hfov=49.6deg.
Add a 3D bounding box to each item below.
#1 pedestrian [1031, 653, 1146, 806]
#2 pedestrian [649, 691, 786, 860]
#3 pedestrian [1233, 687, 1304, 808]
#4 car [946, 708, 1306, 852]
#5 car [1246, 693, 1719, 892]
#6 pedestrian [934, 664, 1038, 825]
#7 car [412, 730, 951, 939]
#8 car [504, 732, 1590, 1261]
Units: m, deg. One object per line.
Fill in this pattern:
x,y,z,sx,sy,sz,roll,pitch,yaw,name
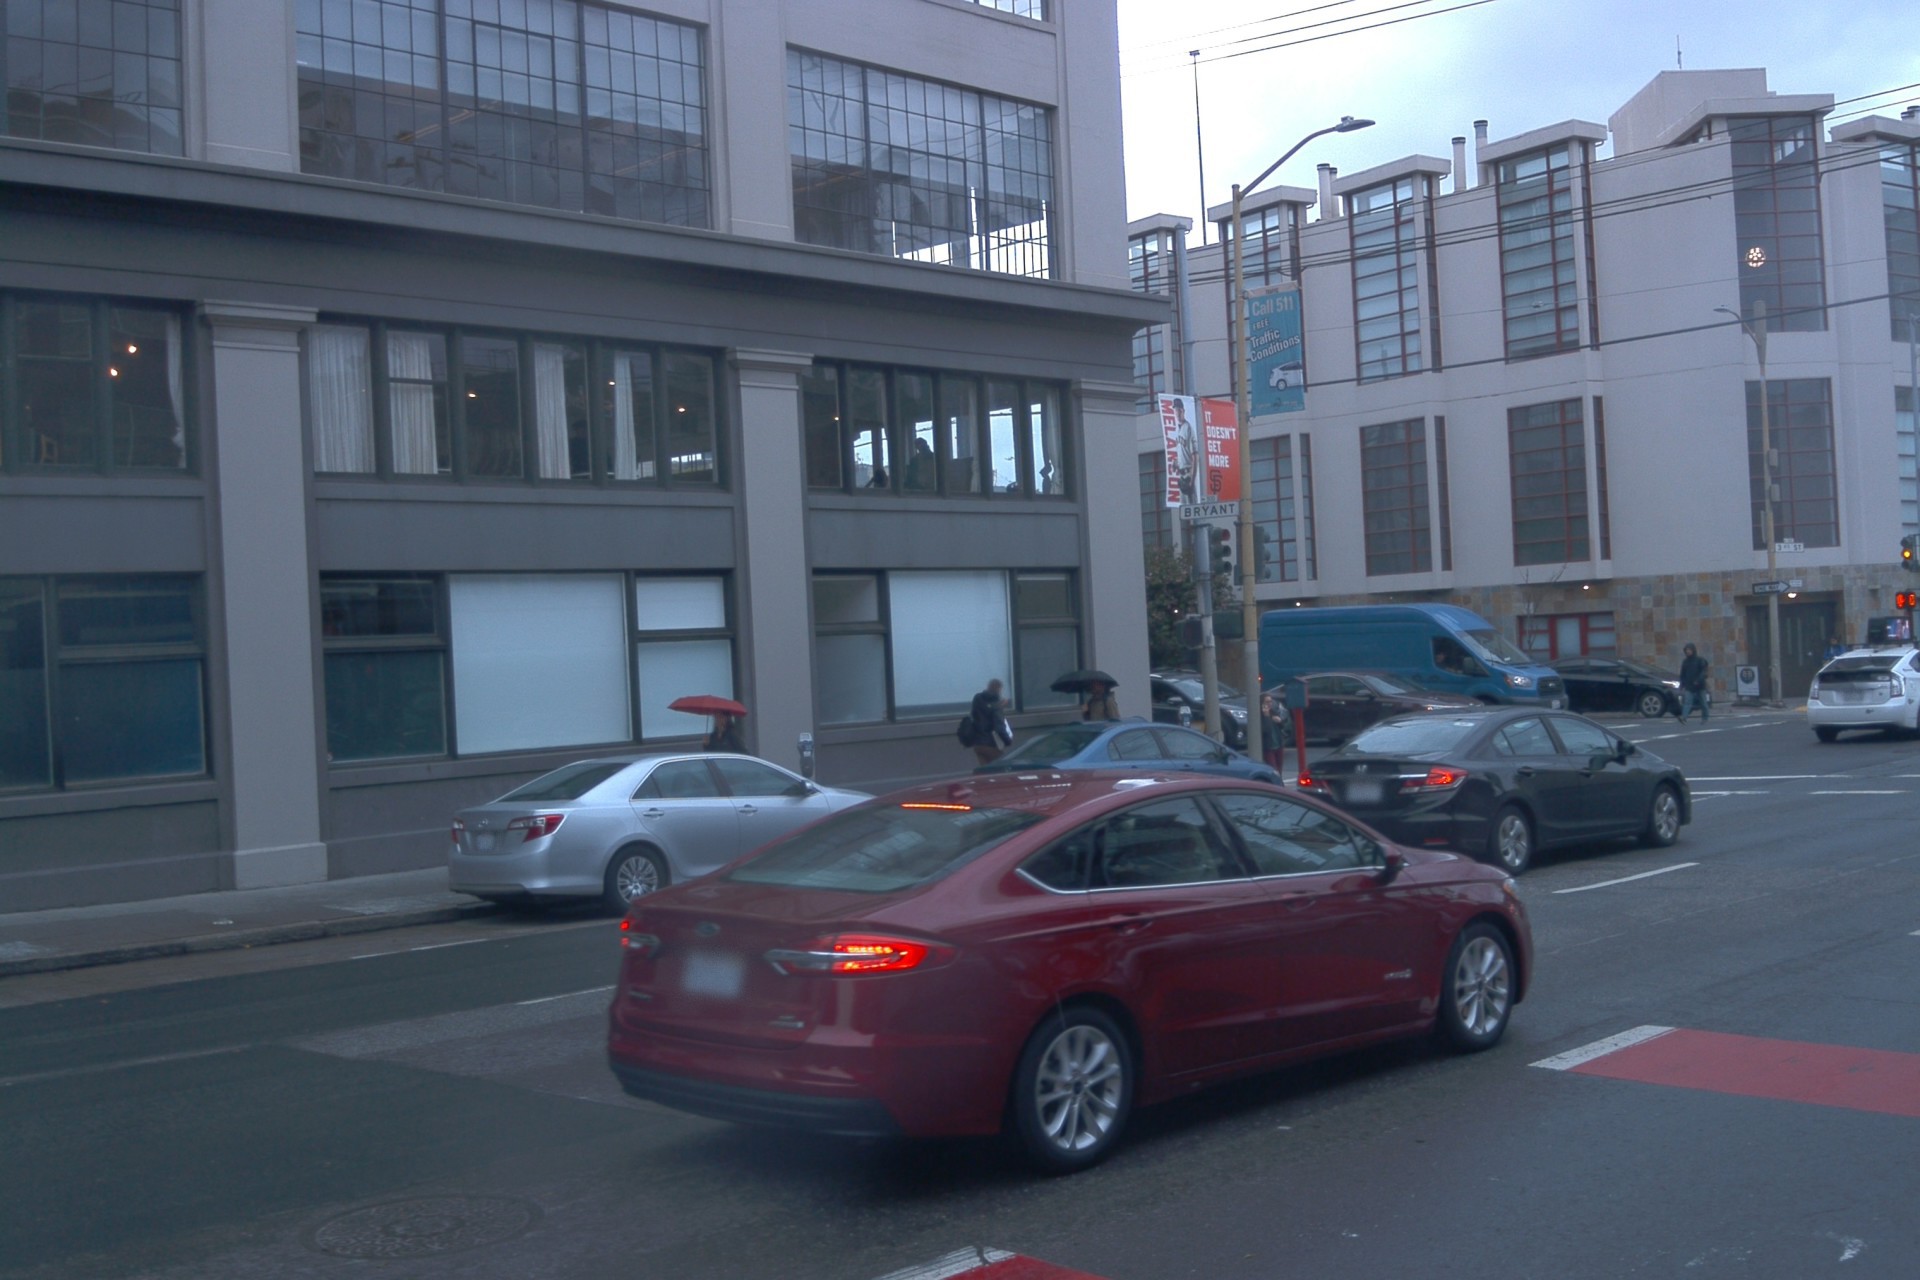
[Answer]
1.840,1.251,29.663,1.190,2.110,1.132,0,0,-45,pedestrian
-2.862,1.568,24.576,1.157,1.900,1.124,0,0,-45,pedestrian
4.387,1.515,29.569,0.825,1.670,0.591,0,0,-35,pedestrian
2.068,1.603,24.976,1.913,1.440,4.430,0,0,45,car
4.789,1.251,18.610,1.971,1.440,4.761,0,0,44,car
0.333,1.313,26.628,0.909,1.990,0.967,0,0,44,pedestrian
-2.565,1.763,20.178,2.014,1.570,4.989,0,0,45,car
0.674,1.289,9.398,2.084,1.530,5.023,0,0,44,car
